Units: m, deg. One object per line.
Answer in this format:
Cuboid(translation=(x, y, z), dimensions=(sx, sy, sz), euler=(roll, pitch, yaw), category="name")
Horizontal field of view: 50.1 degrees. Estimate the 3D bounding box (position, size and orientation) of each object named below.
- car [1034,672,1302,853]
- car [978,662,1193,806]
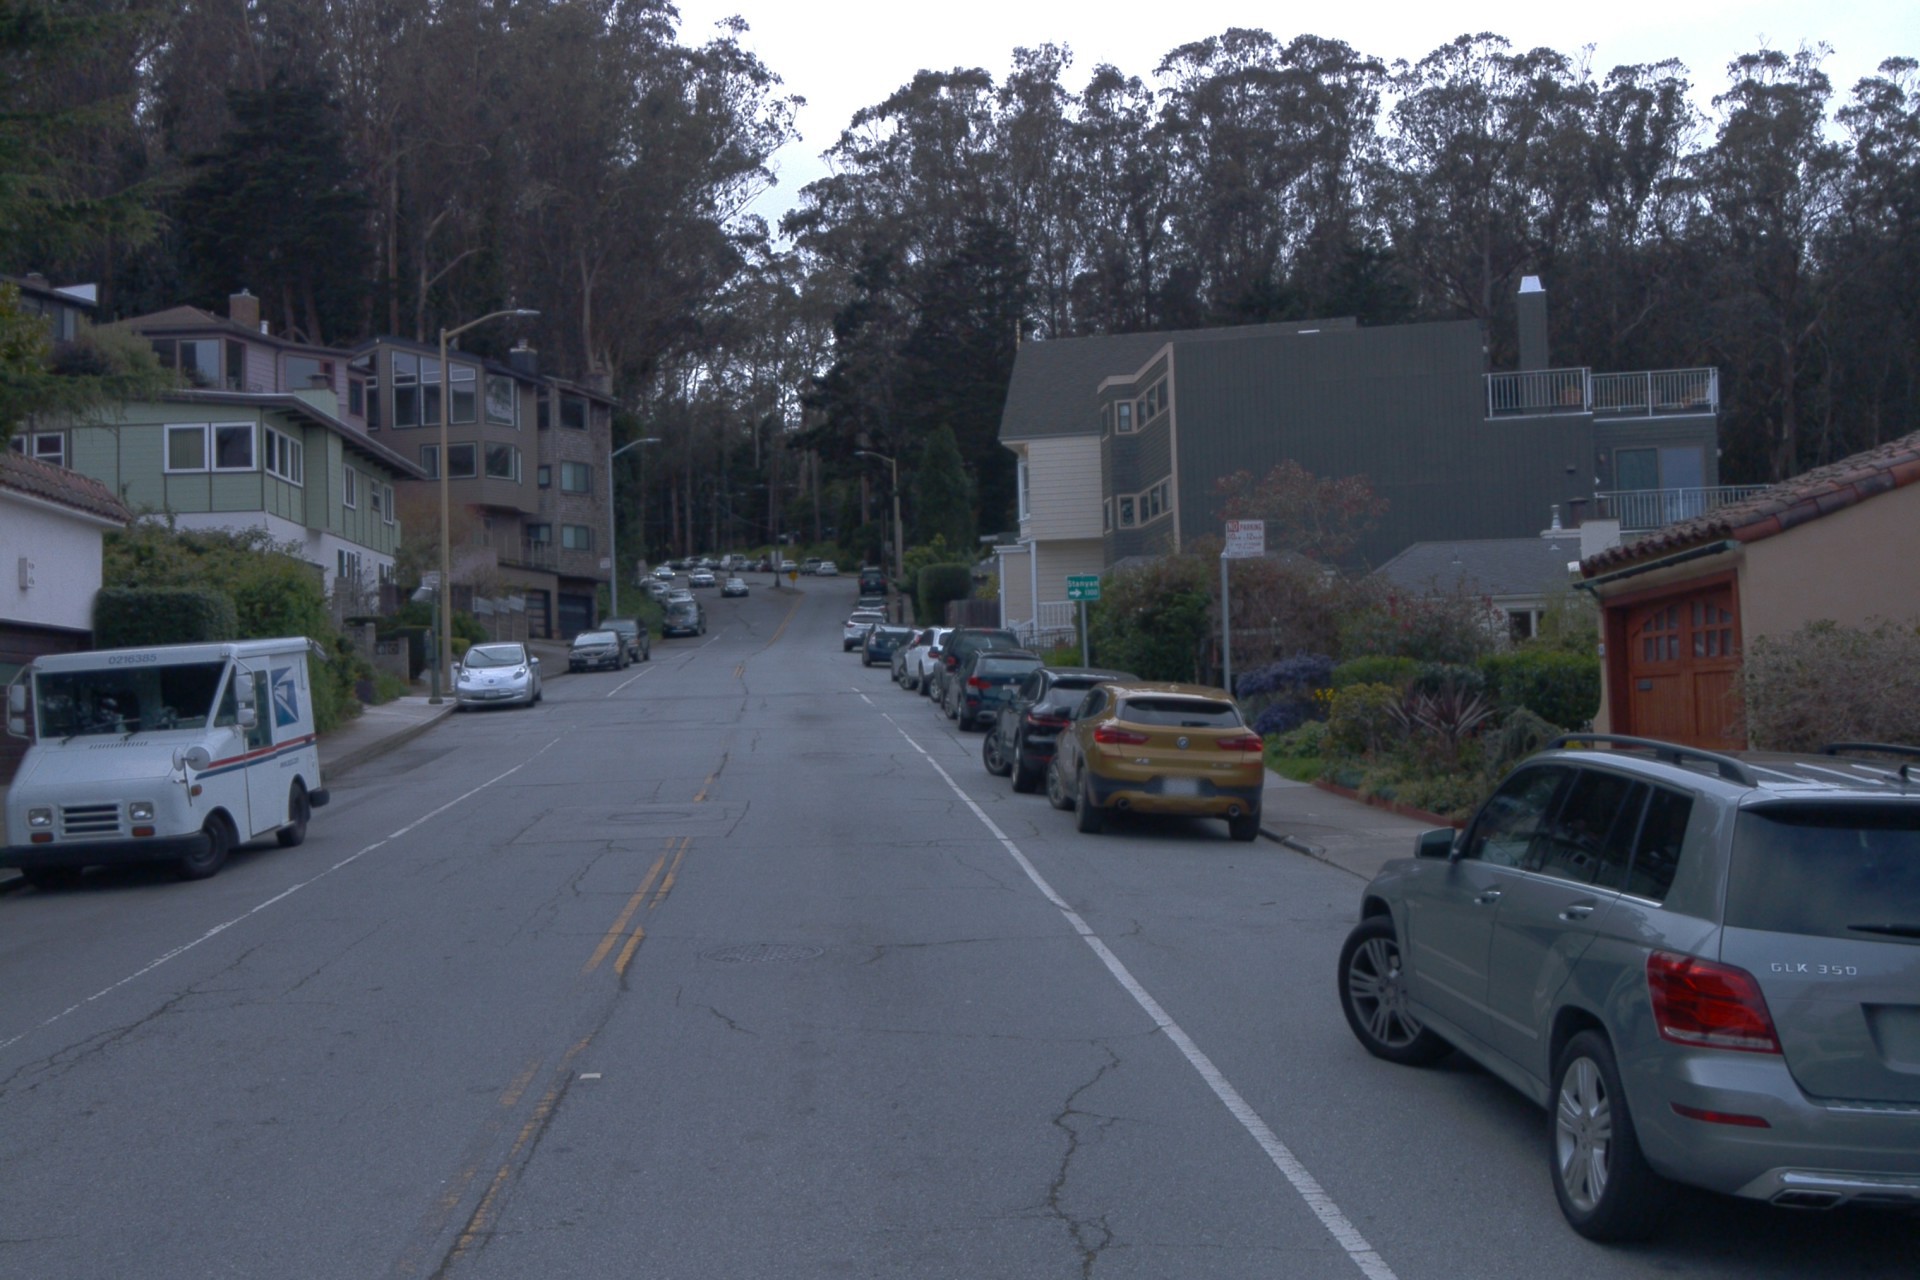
Cuboid(translation=(2.086, 1.215, 22.050), dimensions=(2.198, 1.600, 4.507), euler=(0, 1, -3), category="car")
Cuboid(translation=(1.548, 1.161, 27.254), dimensions=(2.324, 1.630, 4.753), euler=(0, 1, -3), category="car")
